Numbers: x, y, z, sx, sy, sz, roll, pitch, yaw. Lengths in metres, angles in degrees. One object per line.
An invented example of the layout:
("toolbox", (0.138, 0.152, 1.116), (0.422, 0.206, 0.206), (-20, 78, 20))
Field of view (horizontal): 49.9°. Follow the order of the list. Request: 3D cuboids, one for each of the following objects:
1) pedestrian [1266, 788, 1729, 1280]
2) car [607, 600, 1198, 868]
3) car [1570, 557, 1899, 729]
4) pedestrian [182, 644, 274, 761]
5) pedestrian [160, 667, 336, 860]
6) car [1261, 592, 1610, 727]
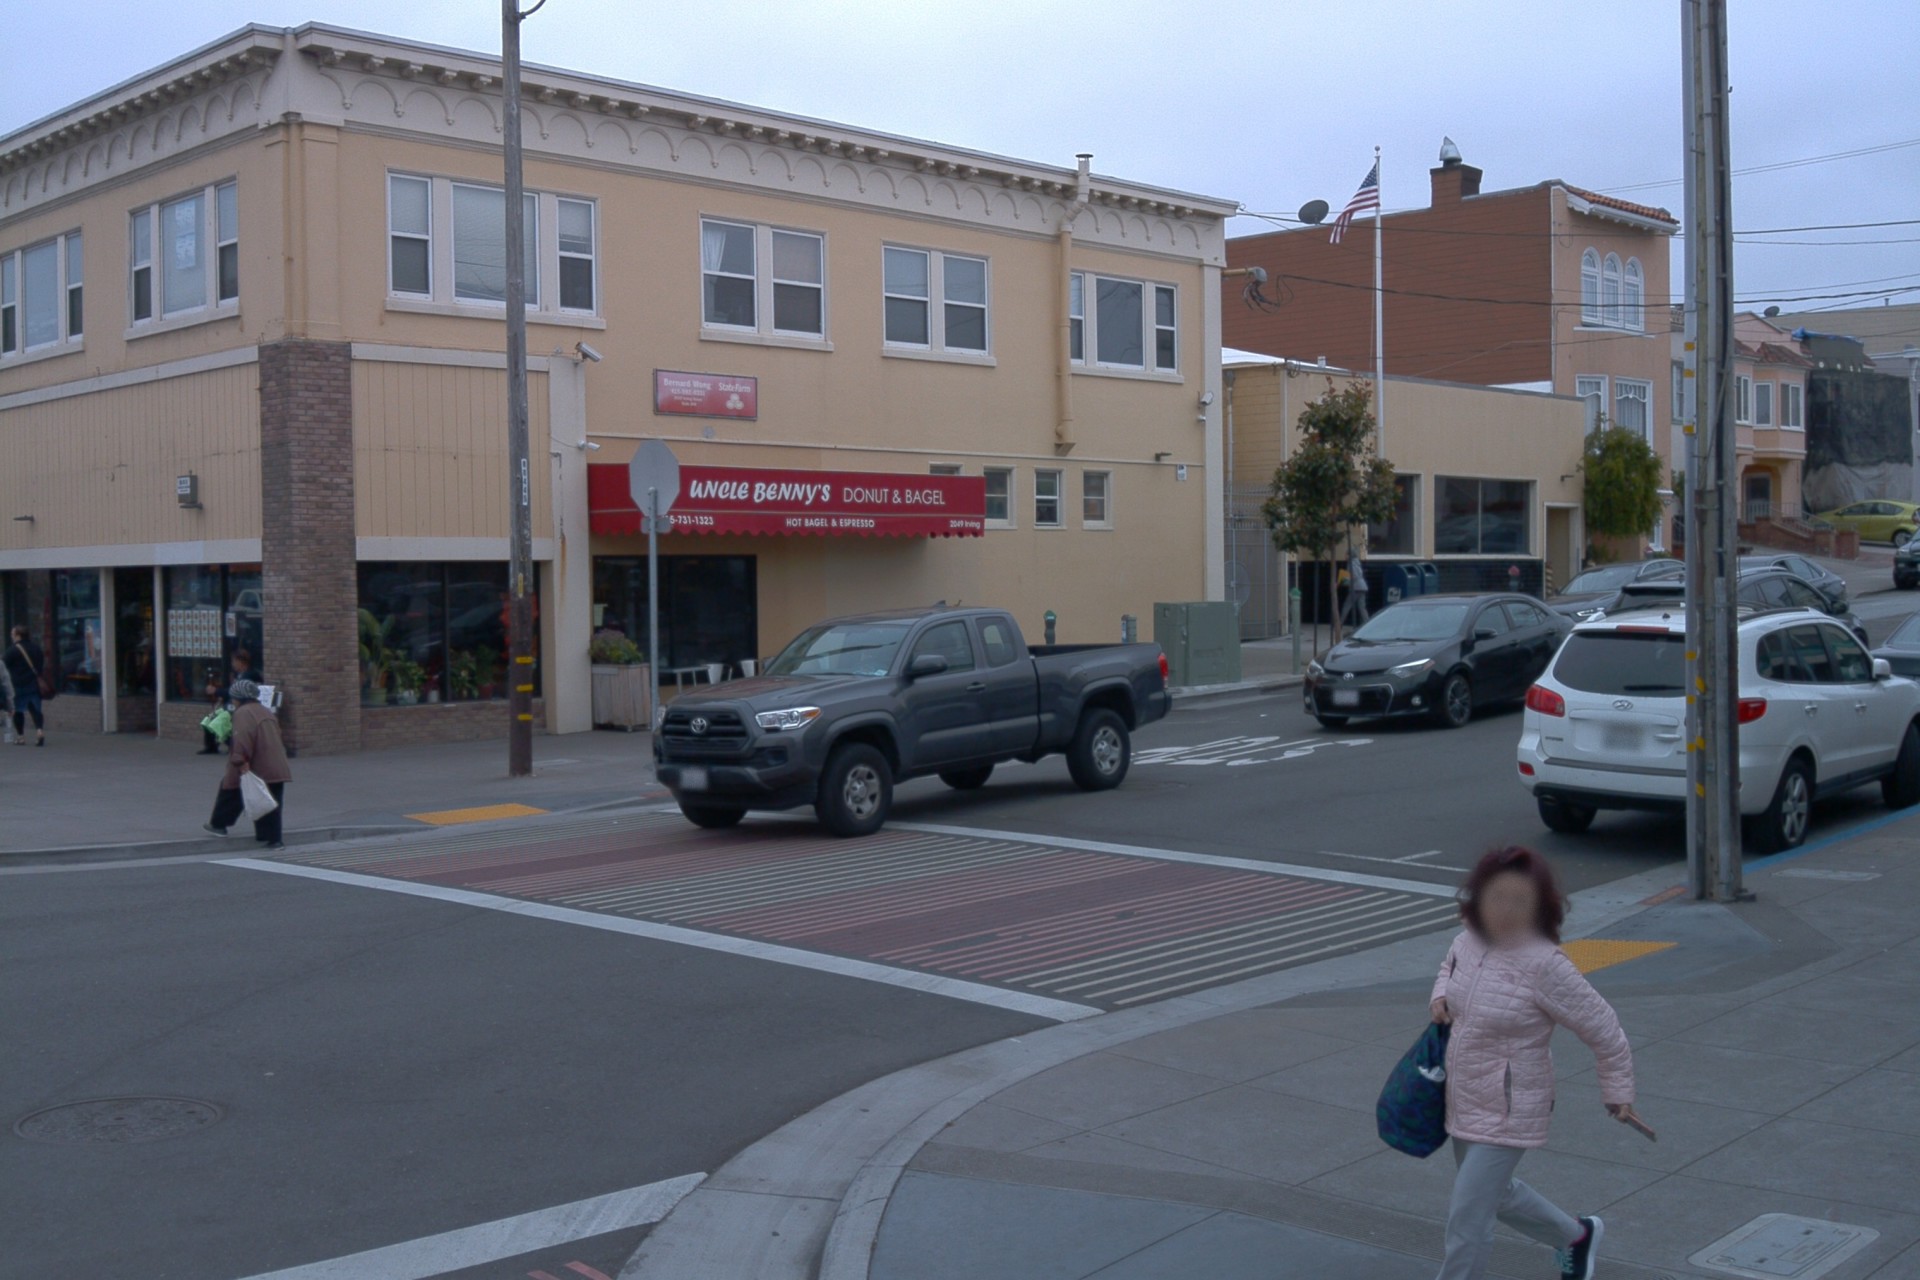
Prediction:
("pedestrian", (1.461, 1.197, 5.727), (0.848, 1.479, 0.913), (0, 1, -25))
("car", (-0.308, 0.677, 18.171), (2.075, 2.008, 5.437), (0, 1, 41))
("car", (8.826, 0.010, 23.330), (1.922, 1.760, 4.392), (1, 1, 43))
("pedestrian", (-8.920, 0.747, 25.173), (0.878, 1.374, 0.735), (1, 1, 44))
("pedestrian", (-5.768, 0.970, 16.762), (0.835, 1.477, 1.063), (0, 1, 36))
("car", (5.688, 0.182, 24.364), (2.067, 1.440, 4.540), (0, 1, 42))
